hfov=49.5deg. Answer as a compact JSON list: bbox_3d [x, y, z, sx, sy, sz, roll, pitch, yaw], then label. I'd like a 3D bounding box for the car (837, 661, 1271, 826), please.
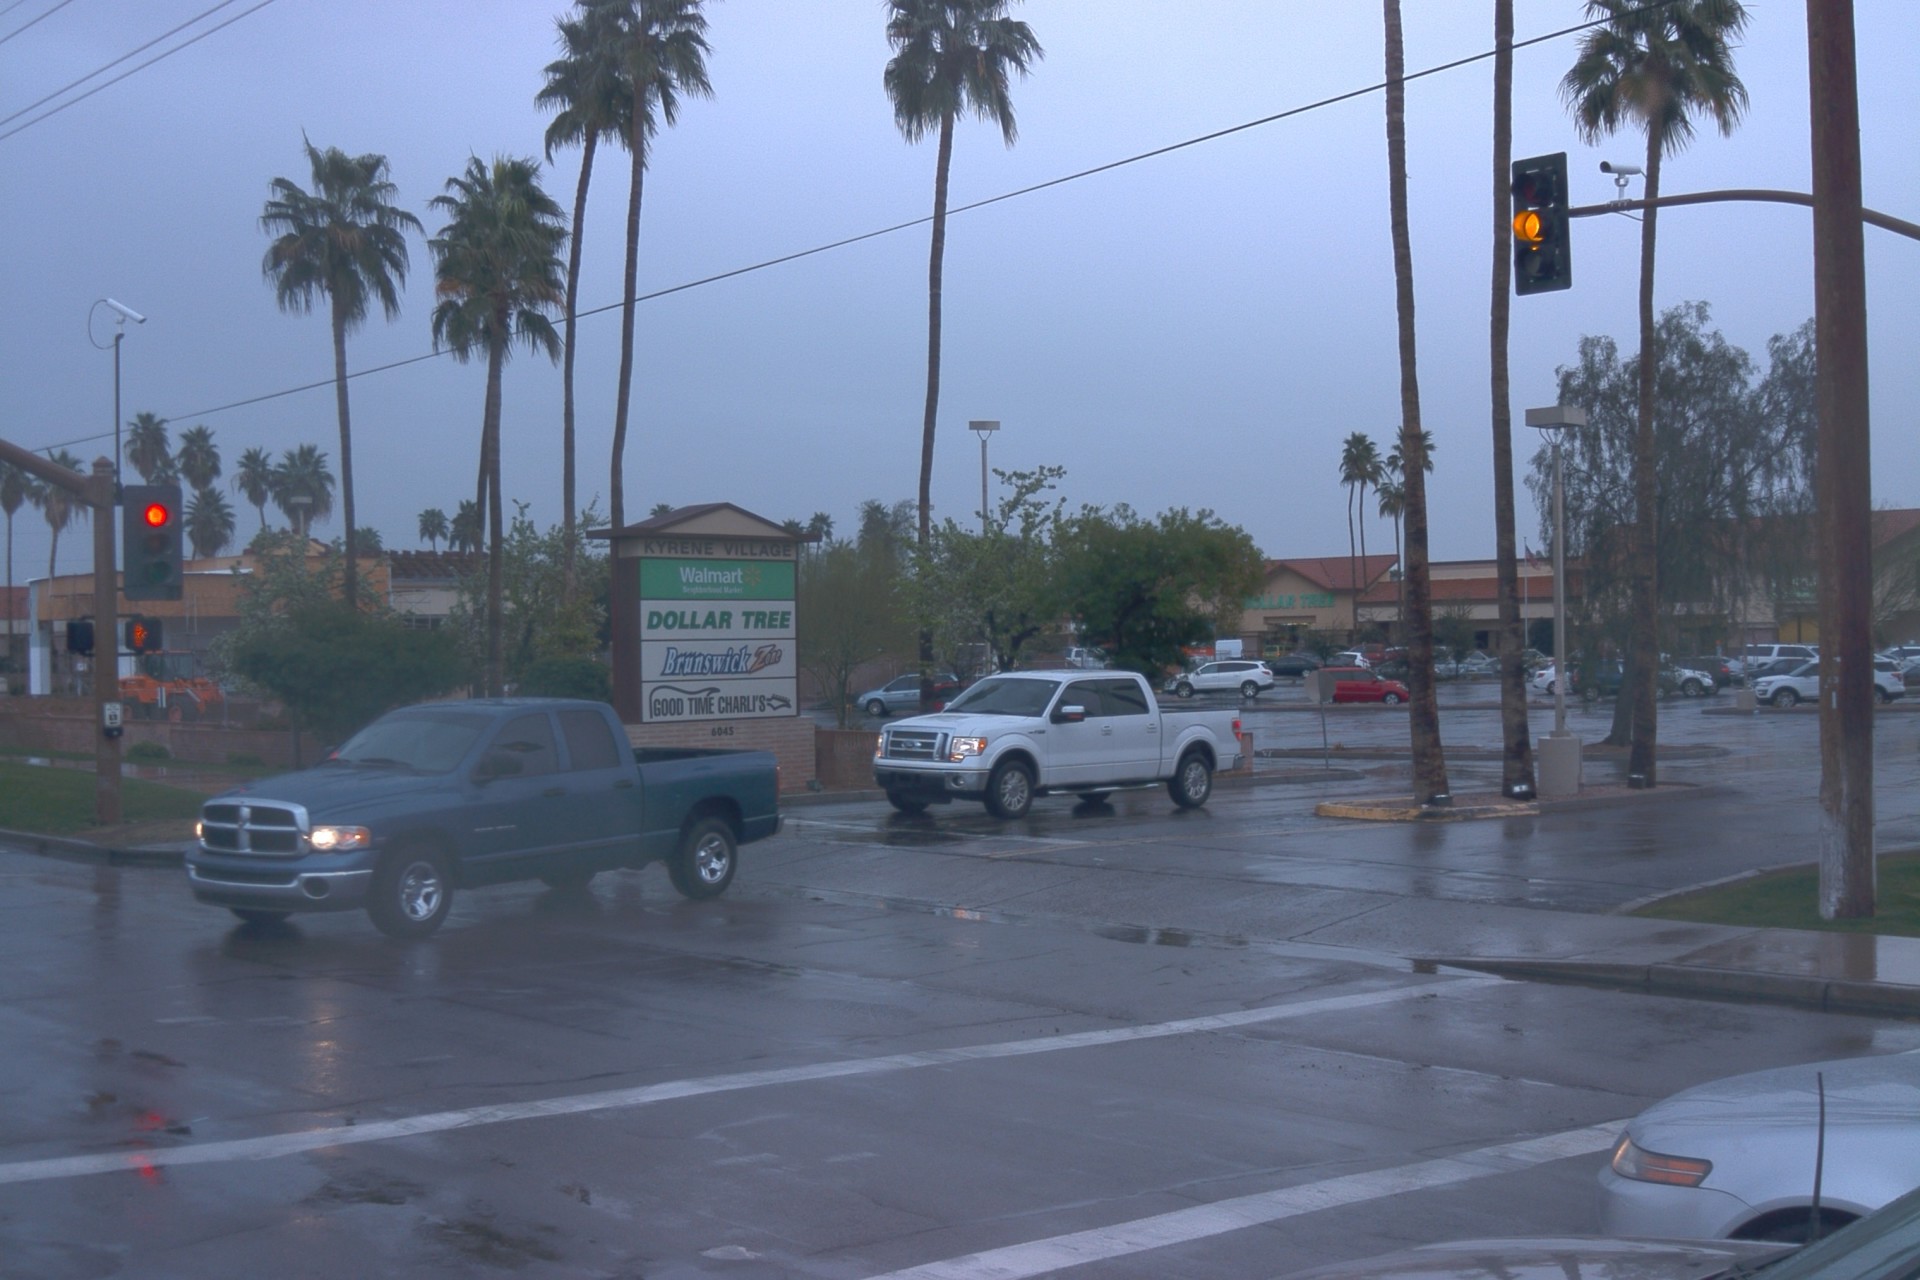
[{"bbox_3d":[1.381,1.273,27.943,2.534,1.980,5.840,0,-1,45],"label":"car"}]

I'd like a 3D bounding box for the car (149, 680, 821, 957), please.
[{"bbox_3d":[-3.938,1.380,18.519,2.432,2.000,5.769,0,-1,33],"label":"car"}]
